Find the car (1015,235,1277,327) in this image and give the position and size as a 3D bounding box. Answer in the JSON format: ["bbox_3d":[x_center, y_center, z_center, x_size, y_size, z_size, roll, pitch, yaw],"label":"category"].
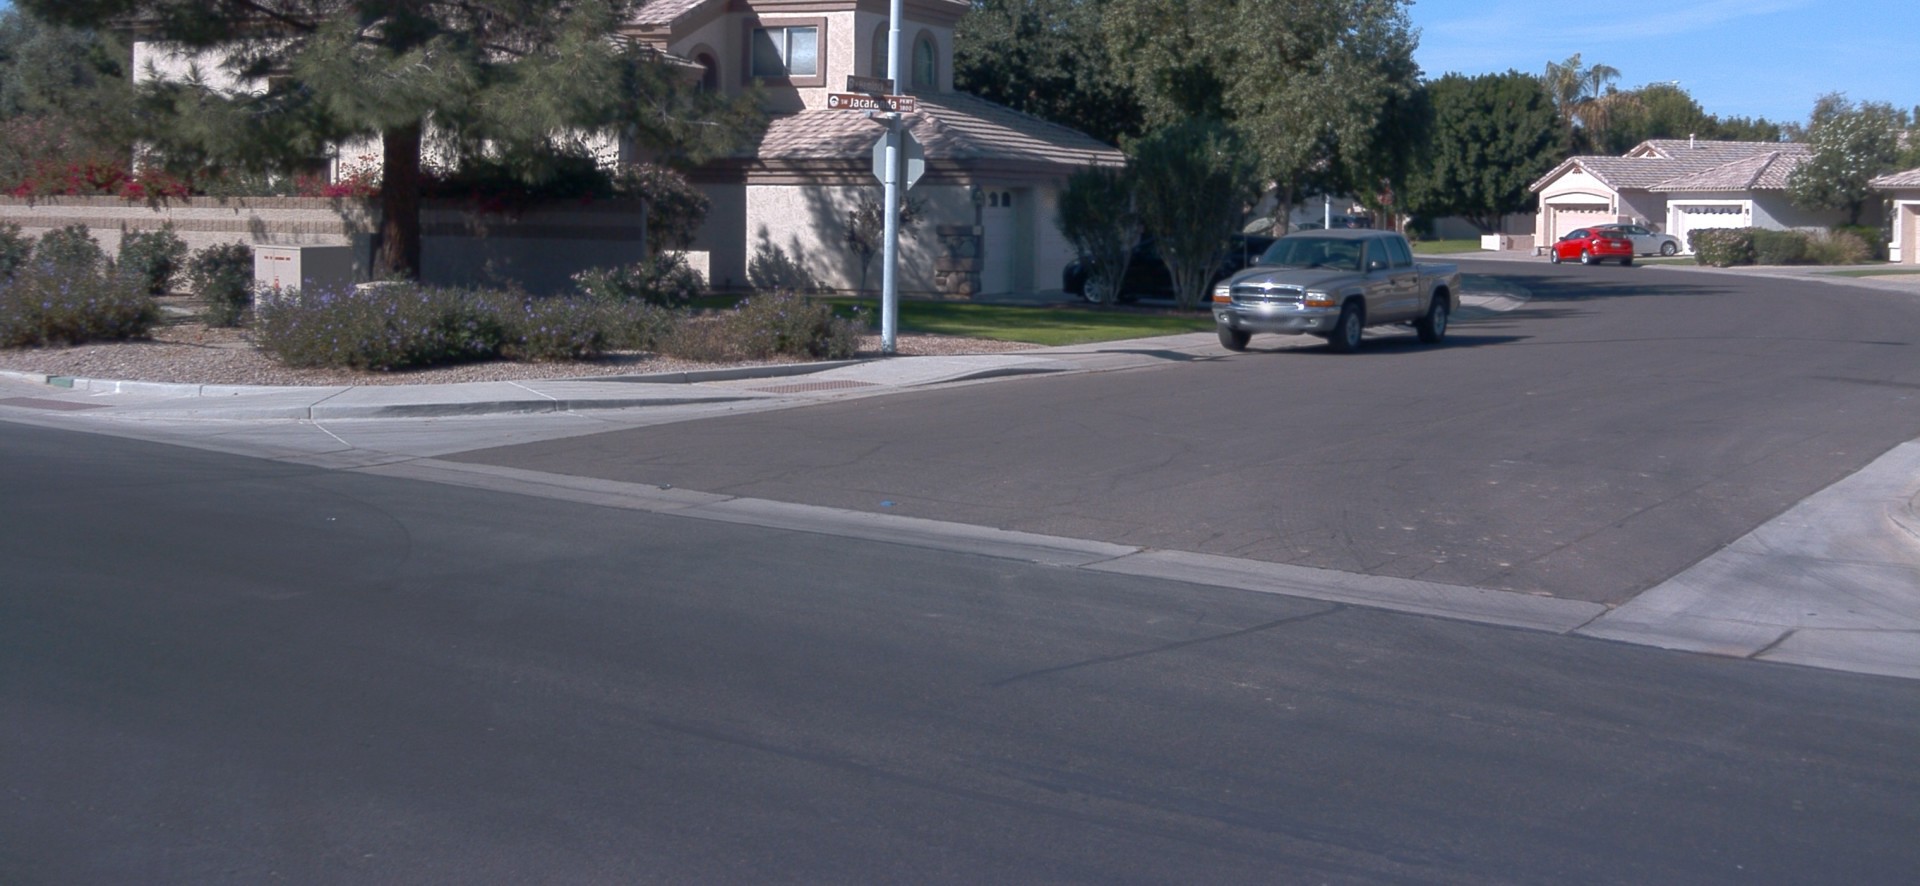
[{"bbox_3d":[3.401,-2.994,38.205,4.399,1.567,1.822,3,4,23],"label":"car"}]

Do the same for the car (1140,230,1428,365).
[{"bbox_3d":[4.882,-2.211,30.666,2.203,1.784,5.611,3,5,31],"label":"car"}]
